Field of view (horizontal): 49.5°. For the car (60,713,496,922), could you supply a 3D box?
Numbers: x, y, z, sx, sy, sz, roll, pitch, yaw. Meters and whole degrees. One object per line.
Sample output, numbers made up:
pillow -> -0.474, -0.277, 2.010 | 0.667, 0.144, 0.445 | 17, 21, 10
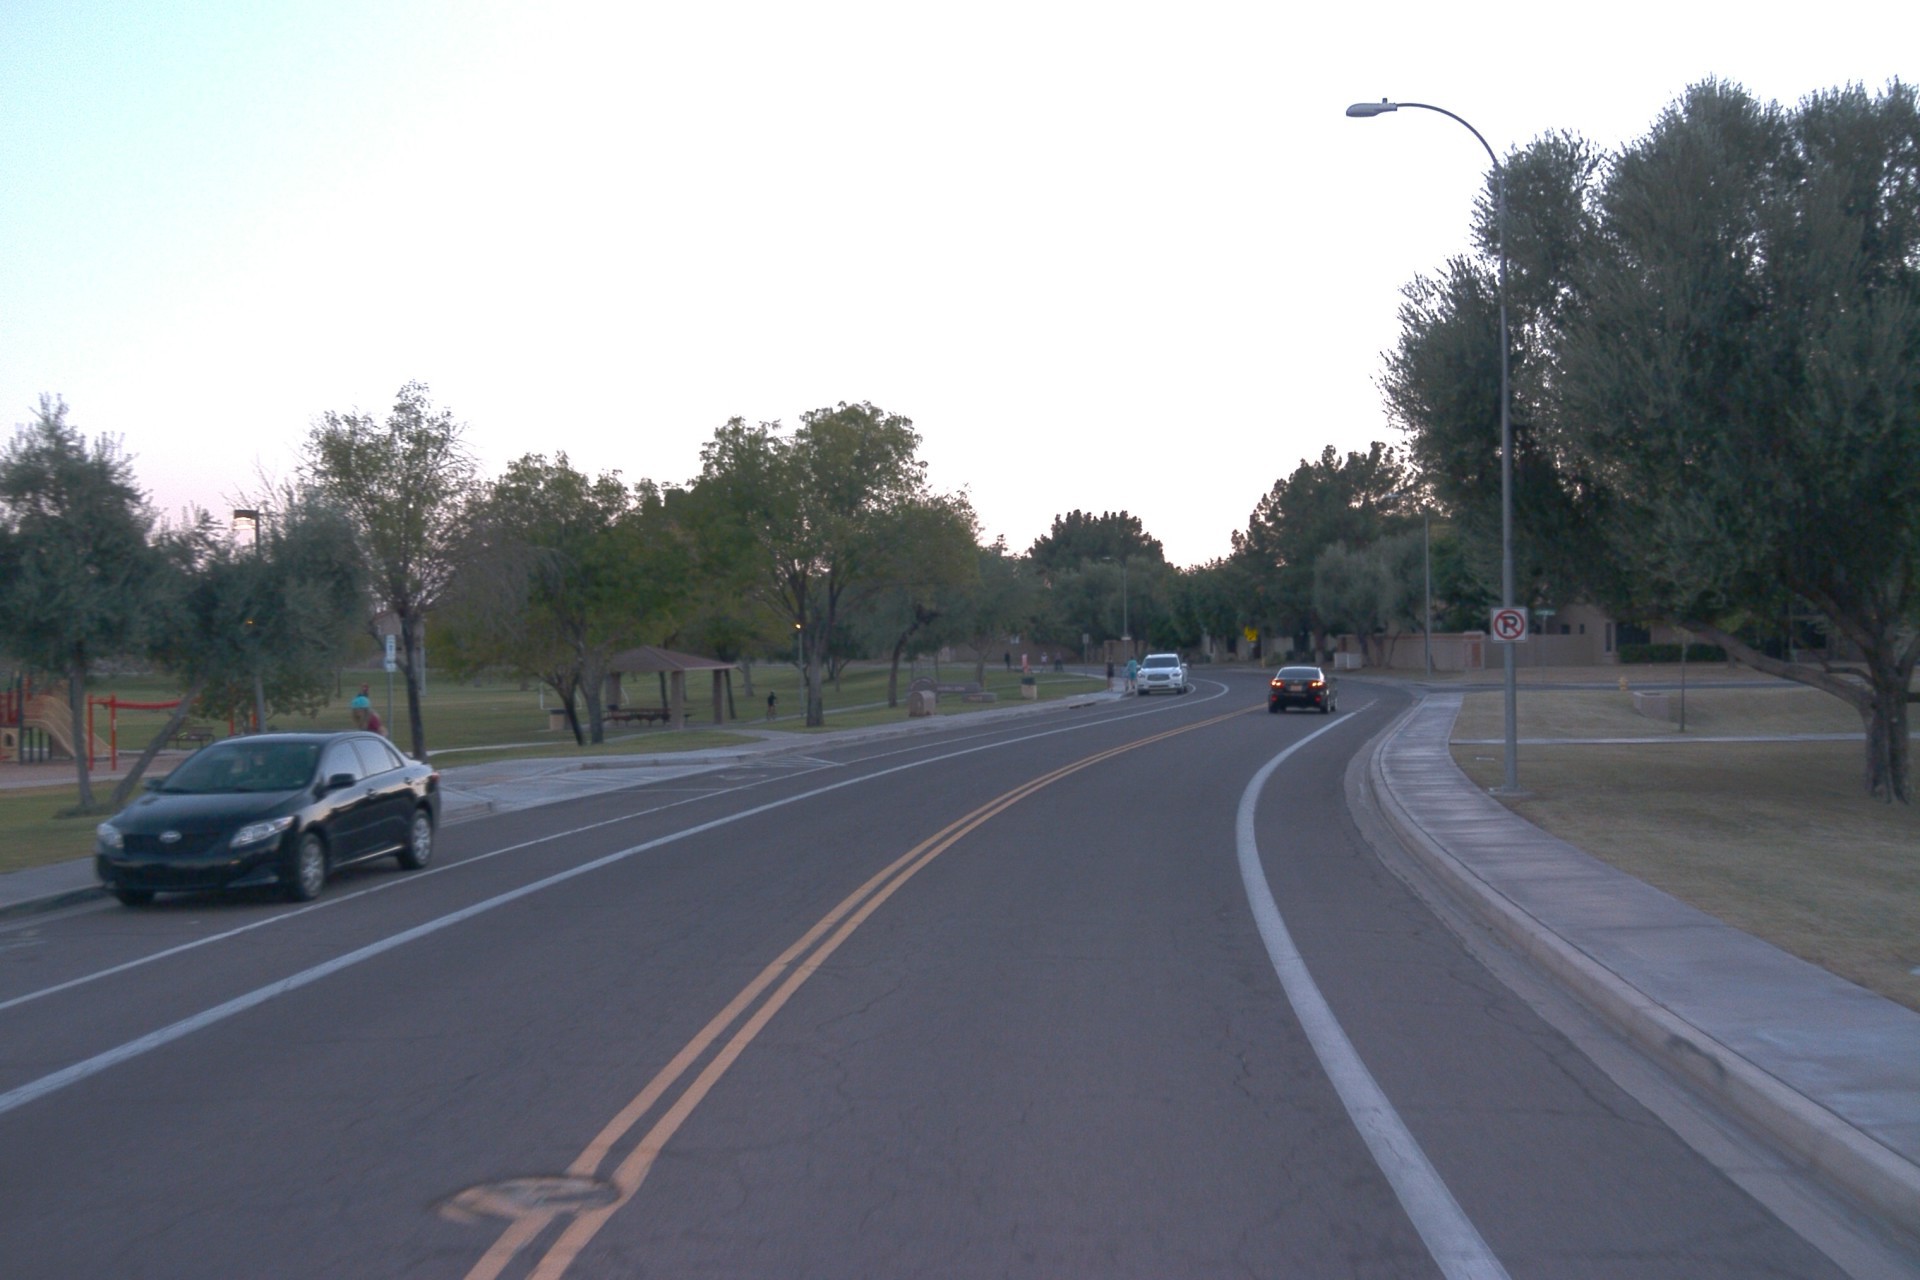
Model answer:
car -> -6.243, 1.562, 19.774 | 2.094, 1.580, 4.668 | 0, 0, 8

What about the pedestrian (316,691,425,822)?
pedestrian -> -7.712, 1.507, 27.322 | 1.040, 1.660, 1.135 | 0, 0, 4
